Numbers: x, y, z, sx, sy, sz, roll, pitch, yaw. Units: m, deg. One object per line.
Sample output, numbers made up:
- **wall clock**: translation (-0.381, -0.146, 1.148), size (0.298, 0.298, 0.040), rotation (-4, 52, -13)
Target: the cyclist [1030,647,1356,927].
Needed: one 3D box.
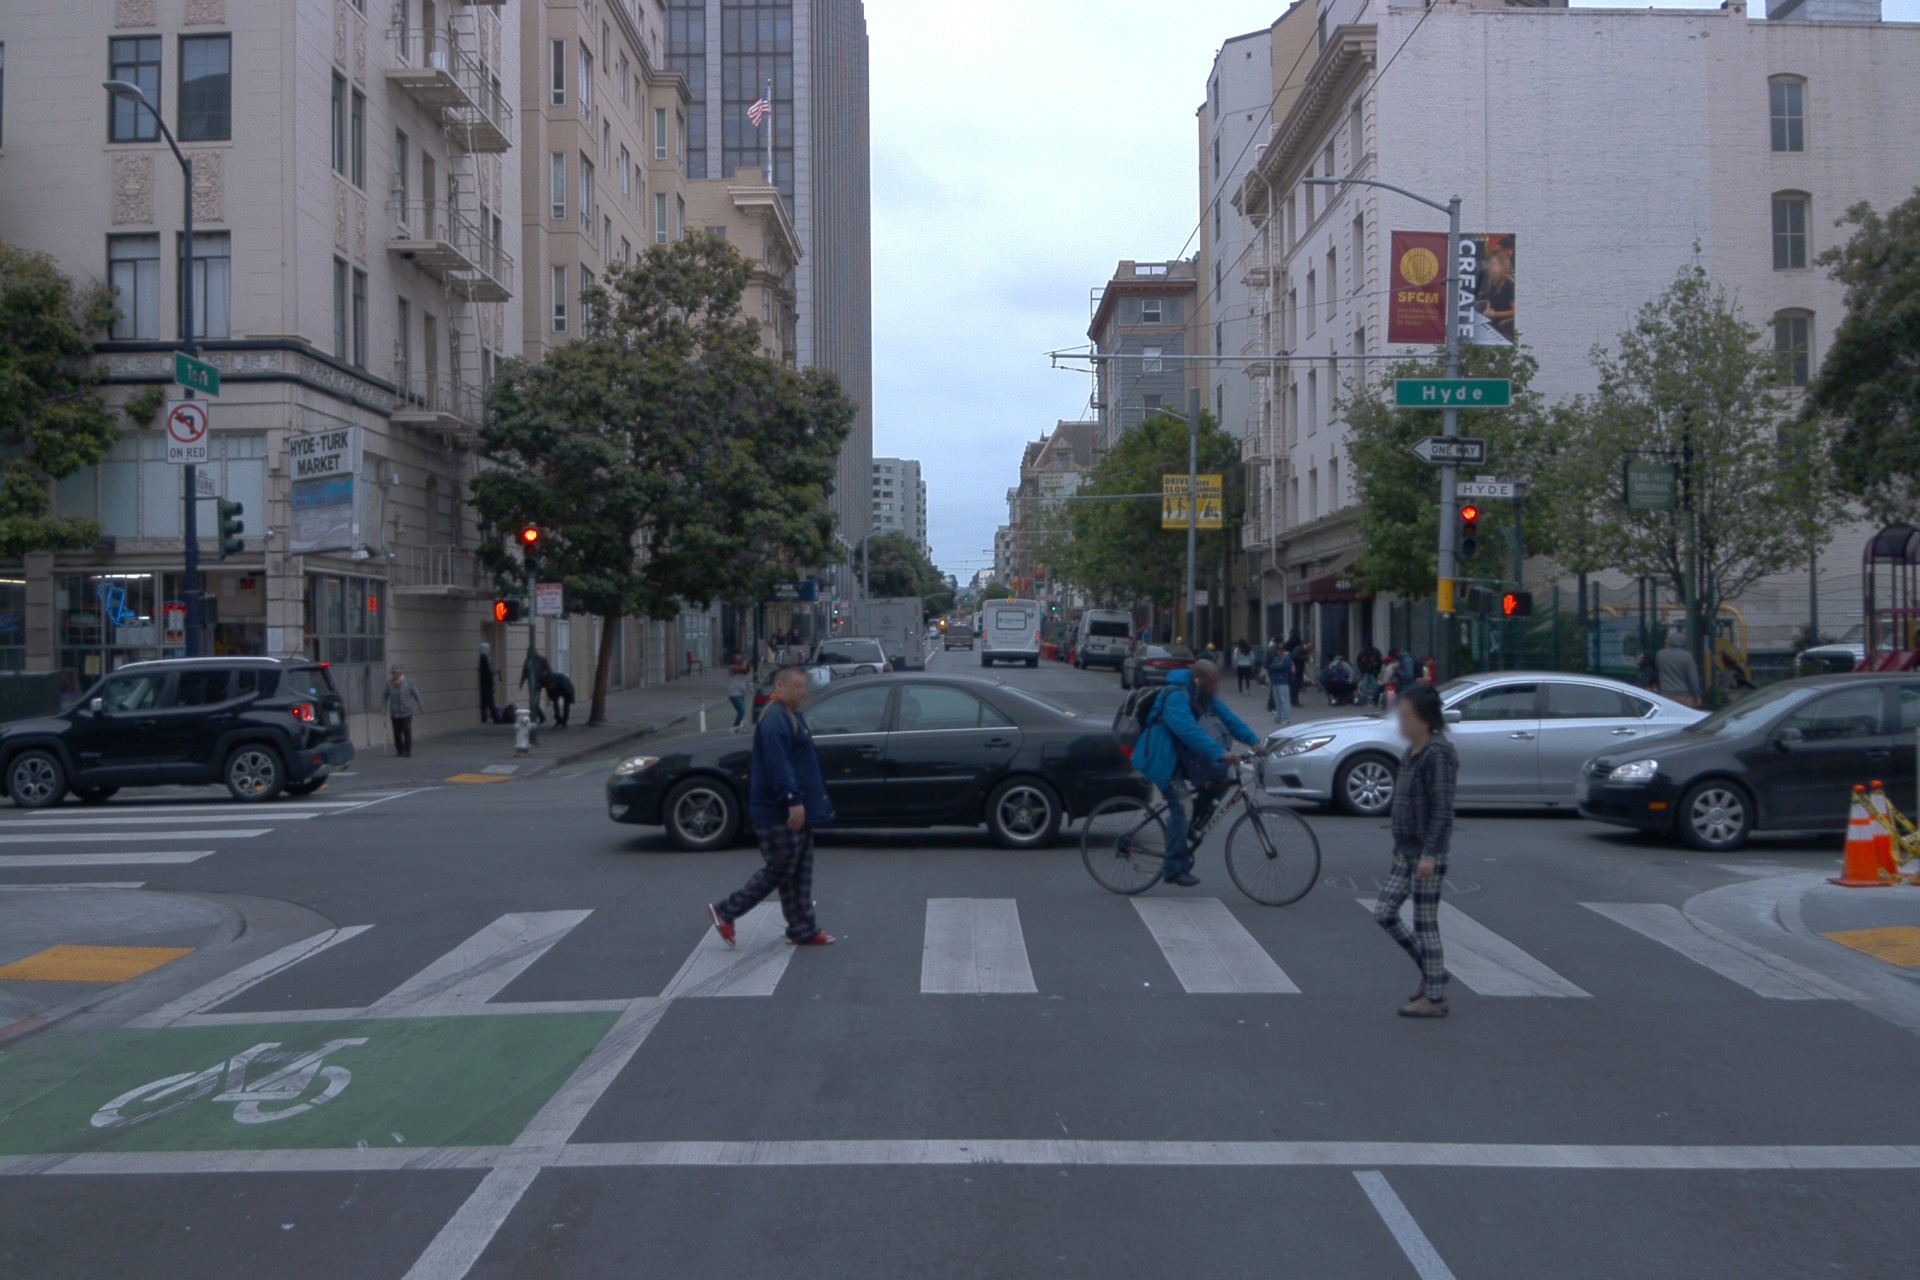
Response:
- **cyclist**: translation (1.581, 0.937, 13.969), size (1.970, 1.750, 1.003), rotation (0, 1, 29)

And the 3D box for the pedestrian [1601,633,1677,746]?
- **pedestrian**: translation (10.590, 0.757, 32.116), size (0.948, 1.720, 0.959), rotation (0, 1, 7)

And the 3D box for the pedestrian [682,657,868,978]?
- **pedestrian**: translation (-1.070, 1.012, 12.148), size (1.035, 1.800, 0.907), rotation (0, 1, -2)

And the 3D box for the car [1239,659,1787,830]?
- **car**: translation (5.408, 1.008, 20.630), size (4.932, 1.550, 2.047), rotation (0, 1, 0)

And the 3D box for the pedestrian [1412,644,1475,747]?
- **pedestrian**: translation (7.726, 0.876, 32.878), size (0.906, 1.620, 0.868), rotation (0, 1, 9)

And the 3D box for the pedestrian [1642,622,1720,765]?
- **pedestrian**: translation (10.310, 0.745, 29.418), size (0.836, 2.010, 0.794), rotation (0, 1, 38)

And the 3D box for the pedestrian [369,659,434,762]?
- **pedestrian**: translation (-9.109, 1.141, 33.554), size (0.869, 1.620, 0.824), rotation (0, 1, -4)

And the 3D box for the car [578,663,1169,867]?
- **car**: translation (-0.691, 1.038, 17.814), size (4.827, 1.600, 2.060), rotation (0, 1, 2)

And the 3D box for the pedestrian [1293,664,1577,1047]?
- **pedestrian**: translation (2.320, 1.016, 10.170), size (1.093, 1.760, 0.987), rotation (0, 1, -6)

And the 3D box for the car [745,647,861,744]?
- **car**: translation (-2.875, 0.992, 38.363), size (1.721, 1.630, 3.892), rotation (0, 1, 2)
